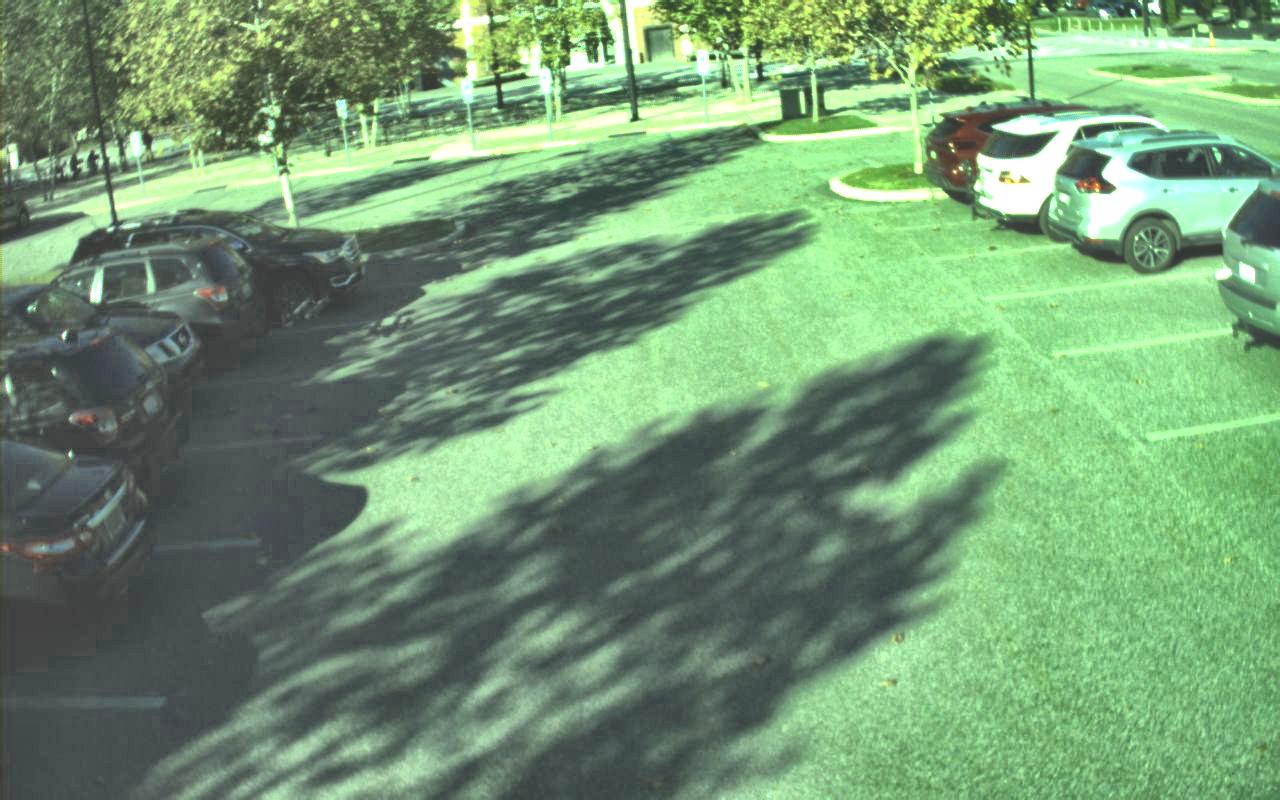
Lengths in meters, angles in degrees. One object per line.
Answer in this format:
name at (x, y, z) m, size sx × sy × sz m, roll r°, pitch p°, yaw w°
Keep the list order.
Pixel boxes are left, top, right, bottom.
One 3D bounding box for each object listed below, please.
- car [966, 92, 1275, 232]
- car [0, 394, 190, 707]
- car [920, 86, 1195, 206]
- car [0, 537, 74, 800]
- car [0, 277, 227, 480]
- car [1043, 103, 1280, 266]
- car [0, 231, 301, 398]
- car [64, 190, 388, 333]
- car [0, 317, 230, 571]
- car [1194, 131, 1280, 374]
car at (7.313, -3.588, 17.753) m, size 4.528 × 1.813 × 2.003 m, roll -2°, pitch 16°, yaw -4°
car at (-5.698, 1.088, 8.021) m, size 4.356 × 1.582 × 1.934 m, roll -2°, pitch 16°, yaw -3°
car at (7.188, -4.371, 20.476) m, size 4.522 × 1.767 × 1.998 m, roll -2°, pitch 16°, yaw -2°
car at (-5.698, 1.941, 5.582) m, size 4.338 × 1.564 × 1.929 m, roll 0°, pitch 16°, yaw 5°
car at (-7.107, -0.352, 12.979) m, size 4.454 × 1.672 × 1.994 m, roll 3°, pitch 17°, yaw 12°
car at (7.684, -2.860, 15.231) m, size 4.456 × 1.775 × 1.977 m, roll -1°, pitch 16°, yaw 1°
car at (-6.962, -1.192, 15.770) m, size 4.417 × 1.698 × 1.989 m, roll 2°, pitch 17°, yaw 10°
car at (-6.396, -2.107, 18.417) m, size 4.703 × 1.743 × 2.050 m, roll 1°, pitch 16°, yaw 6°
car at (-6.255, 0.299, 10.573) m, size 4.415 × 1.679 × 1.978 m, roll 1°, pitch 16°, yaw 8°
car at (7.850, -1.419, 10.391) m, size 4.651 × 1.905 × 2.060 m, roll 0°, pitch 16°, yaw 3°
